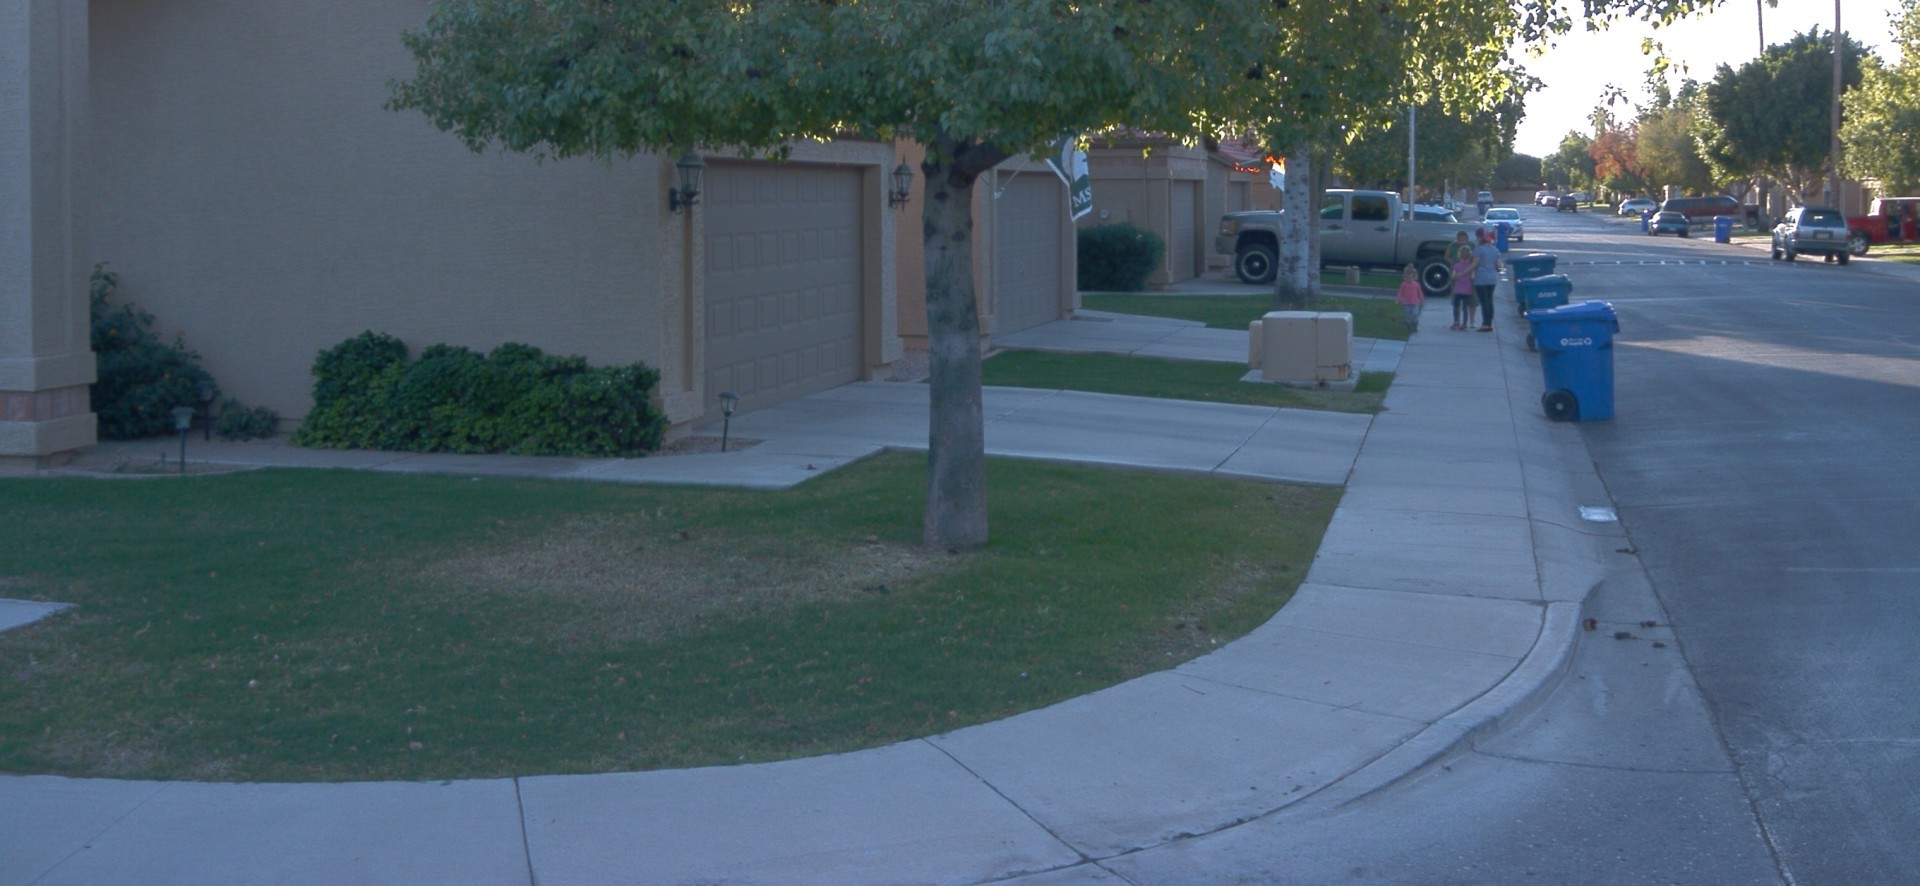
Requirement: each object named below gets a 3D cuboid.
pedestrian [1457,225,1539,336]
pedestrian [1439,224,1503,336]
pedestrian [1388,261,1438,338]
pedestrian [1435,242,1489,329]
[{"bbox_3d":[8.062,-2.452,31.097,0.947,1.617,0.756,-2,3,-35],"label":"pedestrian"},{"bbox_3d":[7.845,-2.518,31.851,0.774,1.687,0.751,1,2,29],"label":"pedestrian"},{"bbox_3d":[6.652,-2.111,30.460,0.682,1.088,0.542,1,2,15],"label":"pedestrian"},{"bbox_3d":[7.552,-2.378,31.250,0.664,1.277,0.692,0,2,3],"label":"pedestrian"}]
